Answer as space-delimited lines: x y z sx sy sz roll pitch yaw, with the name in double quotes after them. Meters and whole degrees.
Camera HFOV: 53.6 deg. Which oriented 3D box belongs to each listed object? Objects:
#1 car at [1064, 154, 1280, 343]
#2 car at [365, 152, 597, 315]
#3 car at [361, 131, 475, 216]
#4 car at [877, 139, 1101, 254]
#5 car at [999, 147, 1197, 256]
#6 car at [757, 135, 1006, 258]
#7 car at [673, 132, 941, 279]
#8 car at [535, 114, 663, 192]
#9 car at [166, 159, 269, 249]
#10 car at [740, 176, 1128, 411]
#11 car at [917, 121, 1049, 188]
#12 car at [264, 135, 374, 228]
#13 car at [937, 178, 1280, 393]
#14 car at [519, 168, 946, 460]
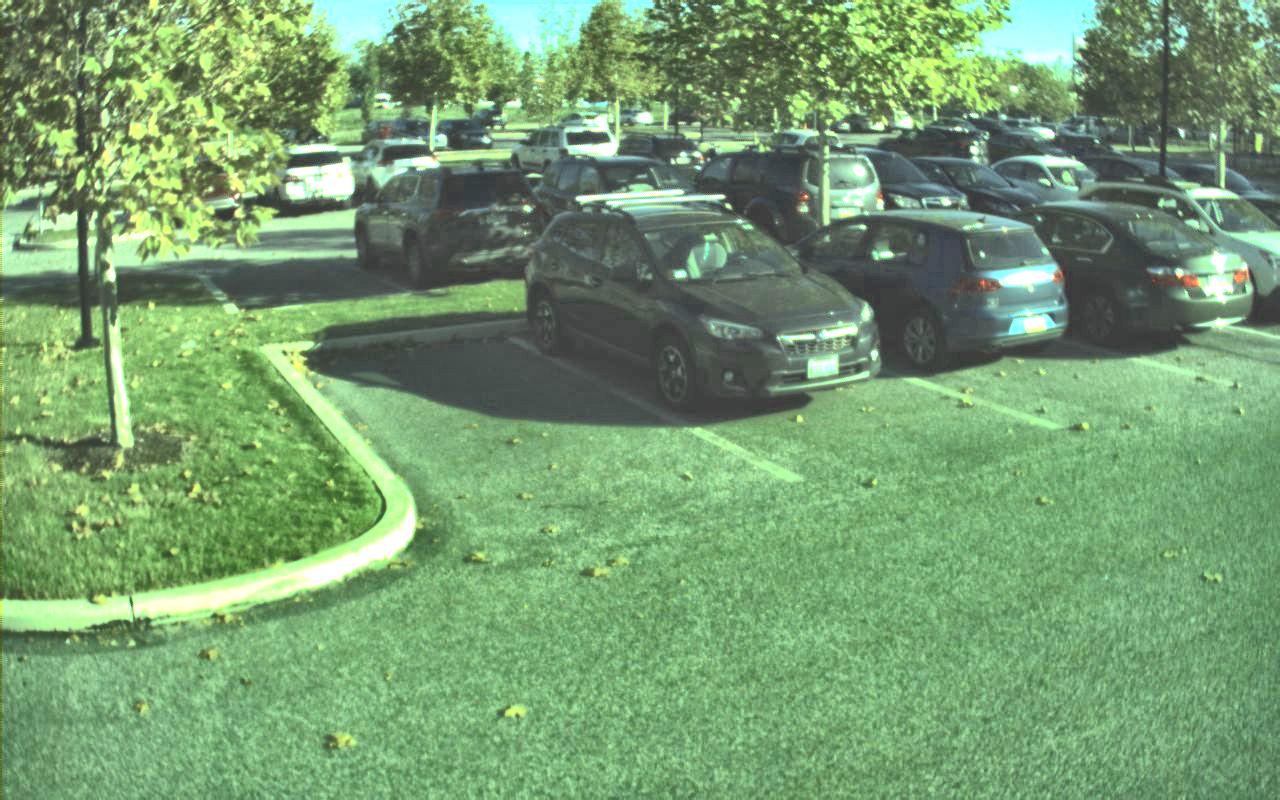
7.992 -2.202 15.752 1.992 1.717 4.576 -8 18 -22 "car"
-2.623 -2.723 19.268 2.025 1.727 4.711 -9 19 -27 "car"
-6.089 -6.174 33.326 2.003 1.737 4.540 -8 18 -23 "car"
6.761 -4.057 23.833 1.967 1.602 4.467 -10 19 -27 "car"
9.663 -4.275 25.274 1.978 1.639 4.553 -6 17 -17 "car"
4.312 -3.788 22.481 1.954 1.610 4.432 -13 20 -34 "car"
2.631 -3.346 20.641 2.037 1.748 4.669 -10 19 -29 "car"
-1.243 -7.085 35.483 2.022 1.732 4.632 -8 18 -23 "car"
-10.982 -5.077 30.644 1.980 1.671 4.495 -10 19 -27 "car"
2.996 -1.311 13.185 1.881 1.575 4.204 -10 19 -28 "car"
11.473 -8.261 40.762 2.009 1.734 4.665 -9 18 -24 "car"
-8.561 -5.809 31.995 2.045 1.820 4.684 -9 18 -24 "car"
5.581 -1.516 14.021 1.953 1.548 4.604 -8 18 -22 "car"
0.646 -1.073 11.962 1.965 1.714 4.543 -9 19 -26 "car"
